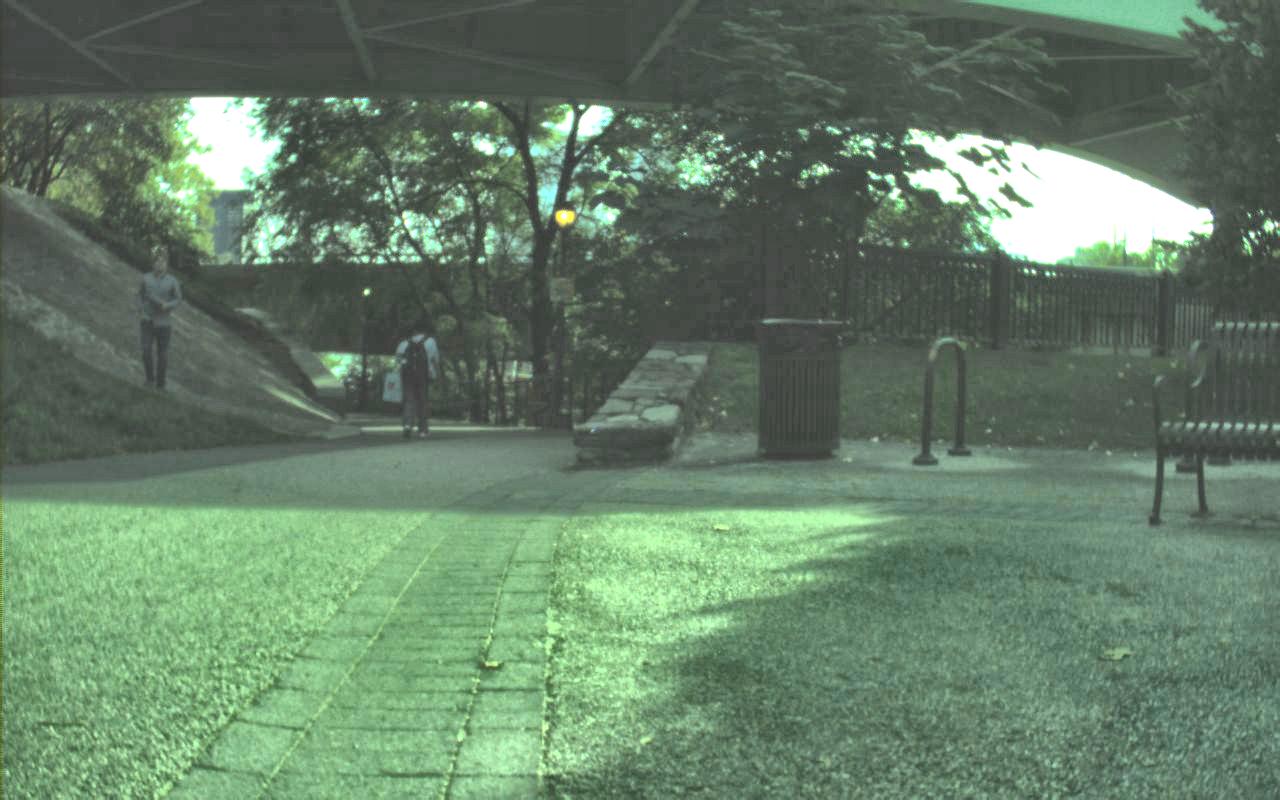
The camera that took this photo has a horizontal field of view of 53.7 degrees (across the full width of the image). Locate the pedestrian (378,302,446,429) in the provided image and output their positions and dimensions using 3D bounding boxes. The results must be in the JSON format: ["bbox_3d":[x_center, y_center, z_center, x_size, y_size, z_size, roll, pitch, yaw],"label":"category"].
[{"bbox_3d":[-3.114,-0.466,17.050,0.840,1.689,0.842,0,0,-4],"label":"pedestrian"}]

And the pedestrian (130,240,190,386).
[{"bbox_3d":[-6.178,-1.080,15.164,0.766,1.831,0.756,0,0,-21],"label":"pedestrian"}]
